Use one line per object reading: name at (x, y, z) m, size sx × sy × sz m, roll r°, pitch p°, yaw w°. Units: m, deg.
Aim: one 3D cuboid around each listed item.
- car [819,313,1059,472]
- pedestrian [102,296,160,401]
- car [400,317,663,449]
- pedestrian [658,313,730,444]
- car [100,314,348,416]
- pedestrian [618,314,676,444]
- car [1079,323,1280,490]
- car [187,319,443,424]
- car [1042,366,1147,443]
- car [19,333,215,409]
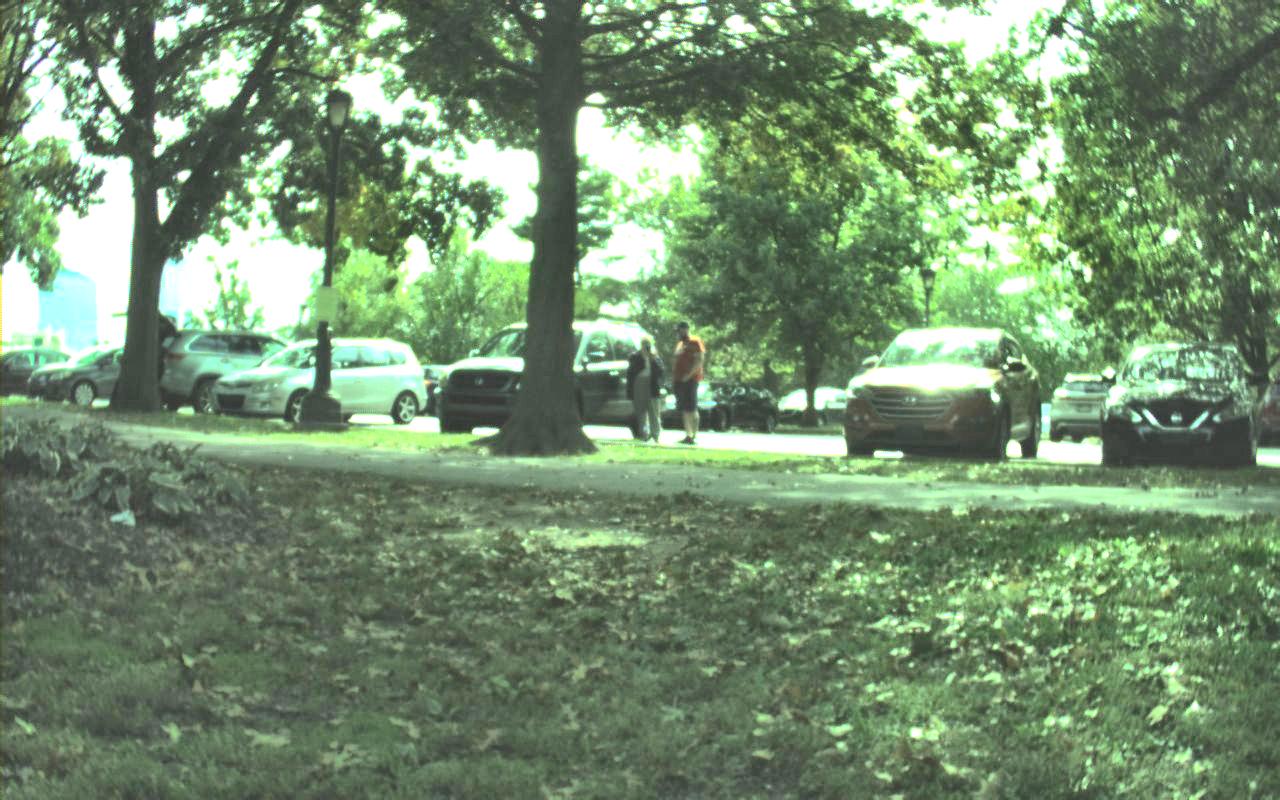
car at (3.881, -0.122, 15.266) m, size 1.974 × 1.659 × 4.560 m, roll 1°, pitch 1°, yaw 27°
pedestrian at (-9.418, -0.900, 21.664) m, size 0.968 × 1.880 × 0.890 m, roll 0°, pitch 0°, yaw -36°
car at (-1.424, -0.273, 18.425) m, size 1.987 × 1.657 × 4.533 m, roll 1°, pitch 1°, yaw 22°
pedestrian at (0.791, -0.320, 18.556) m, size 0.766 × 1.869 × 0.759 m, roll 1°, pitch 0°, yaw 33°
car at (-7.980, -0.635, 23.093) m, size 1.995 × 1.790 × 4.606 m, roll 1°, pitch 1°, yaw 40°
pedestrian at (0.089, -0.301, 18.222) m, size 0.774 × 1.815 × 0.756 m, roll 0°, pitch 0°, yaw -4°
car at (6.374, 0.043, 13.327) m, size 1.958 × 1.604 × 4.513 m, roll 1°, pitch 1°, yaw 32°
car at (-5.638, -0.482, 21.575) m, size 1.946 × 1.642 × 4.549 m, roll 1°, pitch 1°, yaw 31°
car at (10.910, 0.092, 28.642) m, size 1.967 × 1.688 × 4.487 m, roll 1°, pitch 1°, yaw 29°
car at (-11.870, -0.608, 26.448) m, size 1.948 × 1.605 × 4.416 m, roll 1°, pitch 1°, yaw 35°
